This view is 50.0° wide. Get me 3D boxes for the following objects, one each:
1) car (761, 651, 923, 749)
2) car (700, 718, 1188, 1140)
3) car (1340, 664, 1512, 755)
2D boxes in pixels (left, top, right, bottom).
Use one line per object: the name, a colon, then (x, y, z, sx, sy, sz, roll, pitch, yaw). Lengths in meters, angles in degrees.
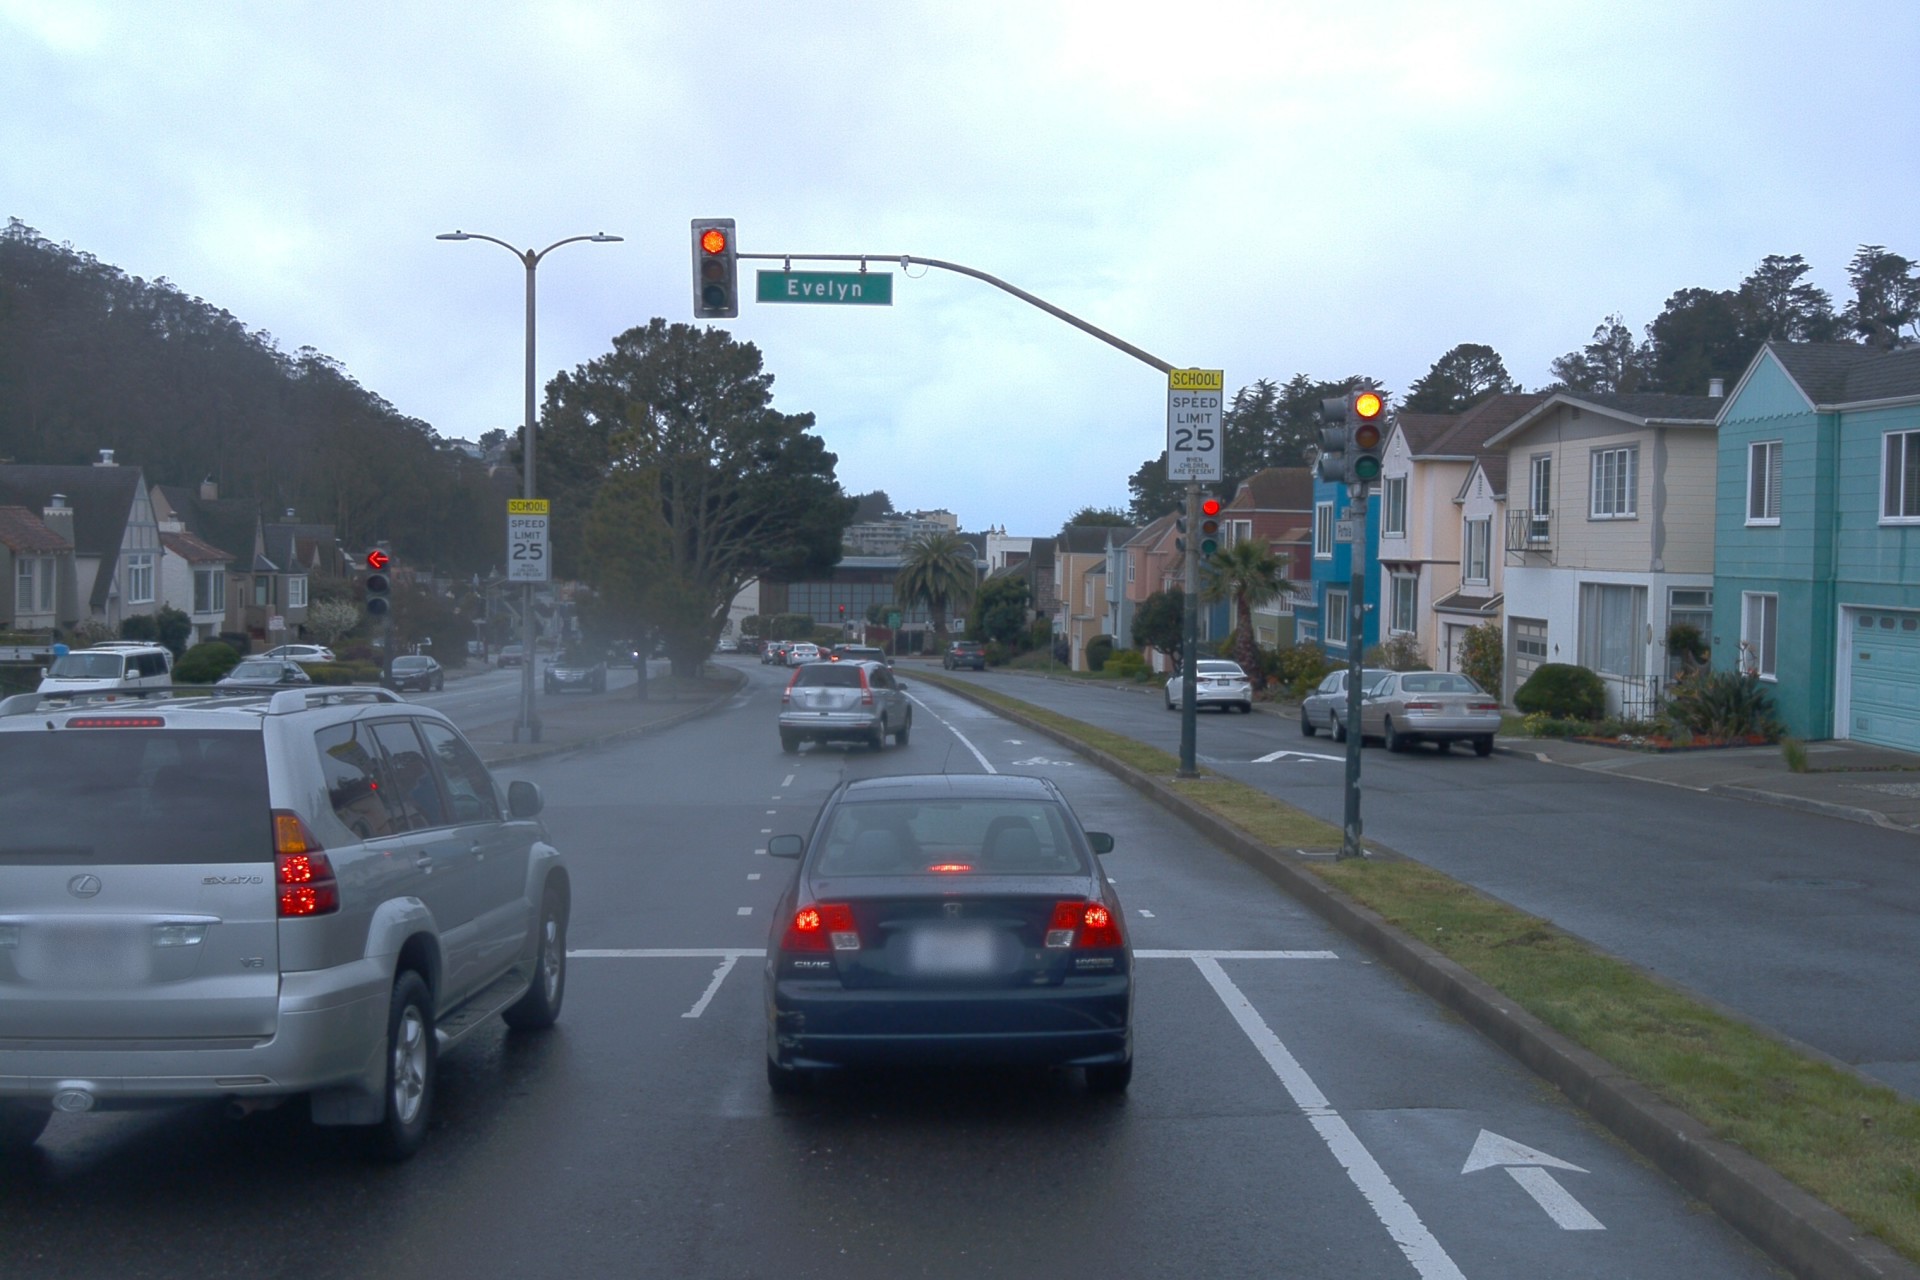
car: (-2.106, 1.052, 38.121, 2.149, 1.660, 4.567, 0, 0, 8)
car: (-0.106, 1.261, 10.546, 2.004, 1.570, 4.164, 0, 0, -1)
car: (8.084, 1.173, 36.132, 1.755, 1.440, 4.469, 0, 0, -4)
